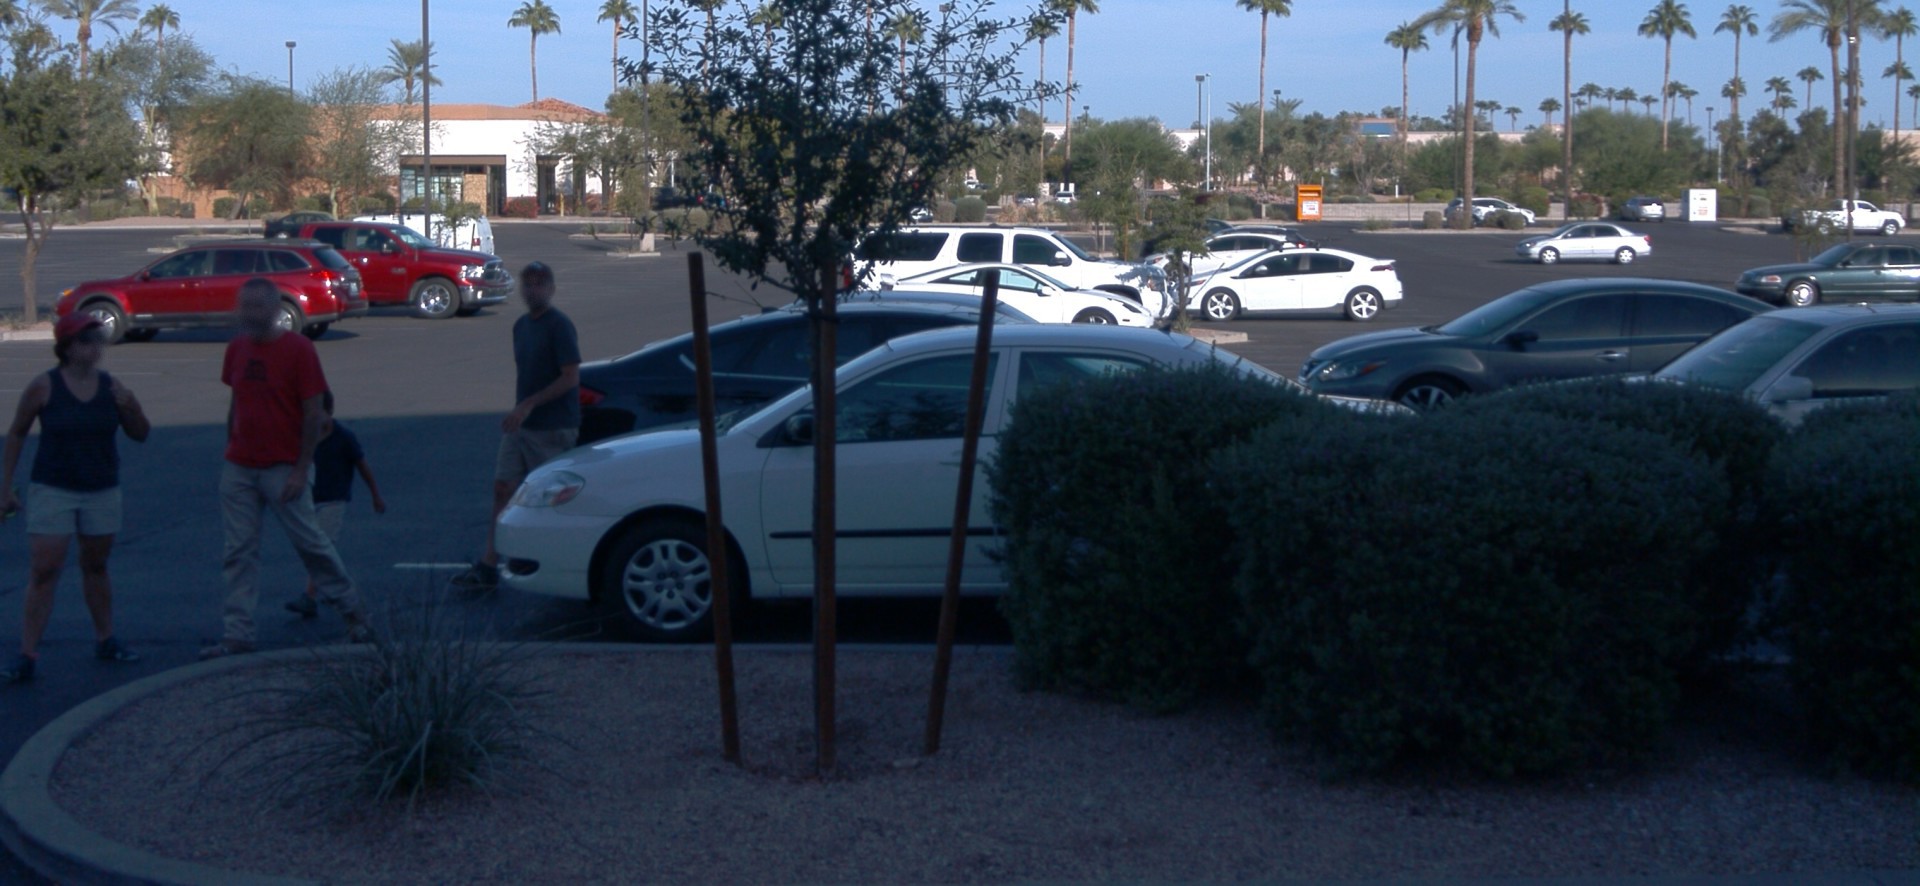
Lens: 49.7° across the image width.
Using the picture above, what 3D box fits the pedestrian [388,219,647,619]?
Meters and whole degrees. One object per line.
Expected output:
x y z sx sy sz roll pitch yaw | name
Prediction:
-2.413 -0.203 11.228 1.065 1.996 1.233 -1 3 -28 | pedestrian

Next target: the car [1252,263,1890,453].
5.256 -0.805 18.440 5.052 1.514 2.207 0 5 1 | car

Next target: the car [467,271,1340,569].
-0.286 -0.231 13.051 5.078 1.624 2.089 0 5 4 | car

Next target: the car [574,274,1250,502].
-0.273 -0.500 15.927 4.877 1.494 2.059 1 5 10 | car

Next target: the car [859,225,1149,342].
0.728 -2.521 32.350 4.376 1.714 2.085 0 4 4 | car

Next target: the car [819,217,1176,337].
0.684 -2.853 35.150 5.835 1.933 2.560 0 5 4 | car

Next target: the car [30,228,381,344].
-11.949 -2.538 33.104 4.803 1.735 2.227 0 5 -1 | car

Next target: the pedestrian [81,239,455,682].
-3.129 0.005 9.471 1.172 1.846 1.119 1 3 19 | pedestrian

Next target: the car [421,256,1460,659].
-0.077 -0.024 10.355 4.701 1.764 1.930 0 4 1 | car

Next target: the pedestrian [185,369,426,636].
-3.323 0.269 10.570 0.837 1.207 0.816 1 3 21 | pedestrian
